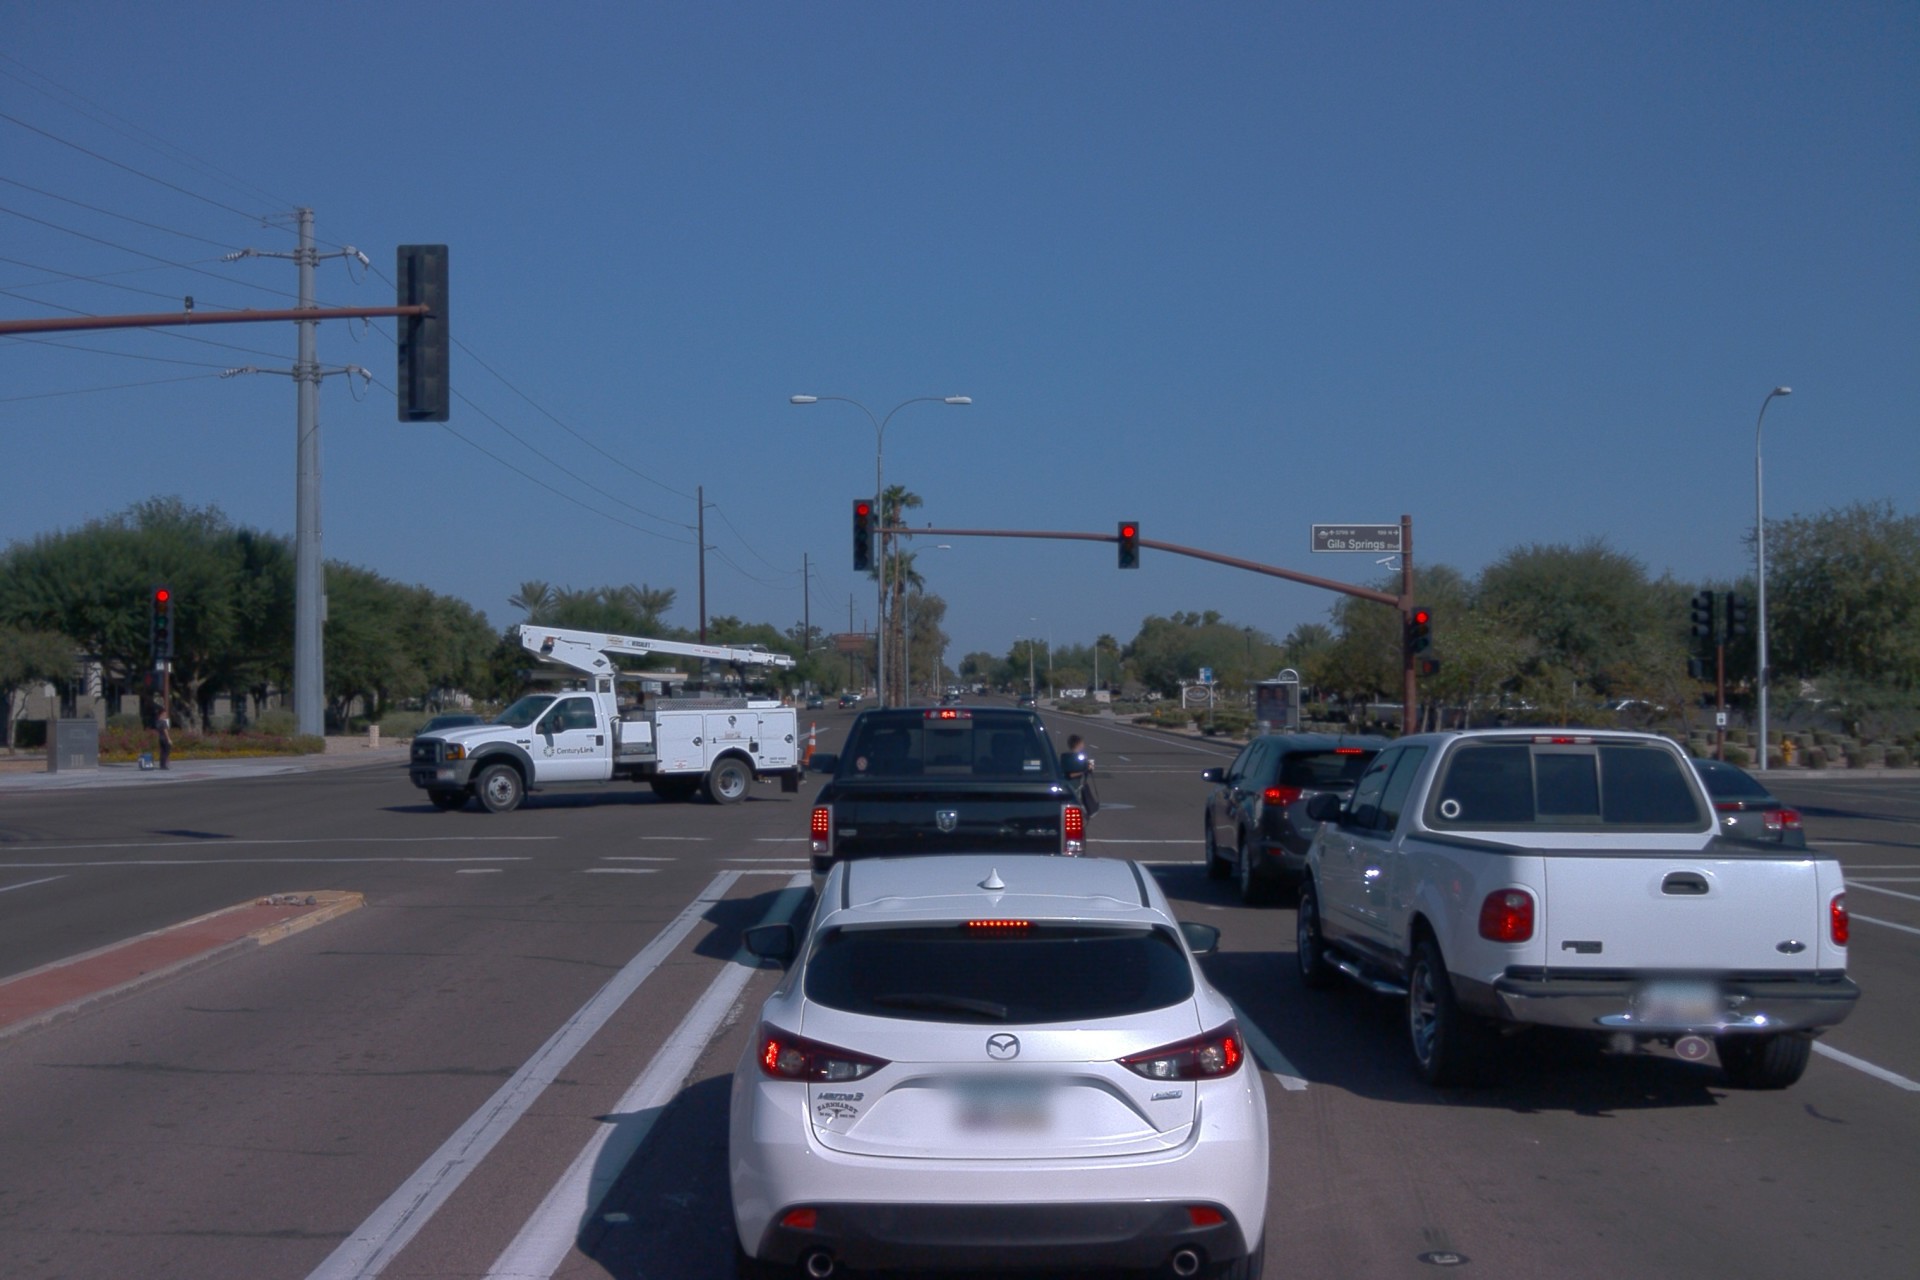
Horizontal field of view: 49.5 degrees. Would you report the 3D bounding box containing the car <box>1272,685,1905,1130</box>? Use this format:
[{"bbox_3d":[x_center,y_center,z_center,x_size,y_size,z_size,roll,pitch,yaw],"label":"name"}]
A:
[{"bbox_3d":[3.344,1.320,12.473,2.073,2.070,5.518,0,-1,-1],"label":"car"}]

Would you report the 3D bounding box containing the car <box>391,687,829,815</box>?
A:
[{"bbox_3d":[-5.987,1.844,36.115,6.950,2.040,2.812,1,-2,-34],"label":"car"}]

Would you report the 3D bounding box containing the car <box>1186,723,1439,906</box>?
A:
[{"bbox_3d":[3.480,1.696,21.297,1.789,1.630,4.213,0,-1,-1],"label":"car"}]

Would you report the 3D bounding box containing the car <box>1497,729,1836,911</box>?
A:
[{"bbox_3d":[6.819,1.687,20.626,1.828,1.540,4.447,0,-1,0],"label":"car"}]

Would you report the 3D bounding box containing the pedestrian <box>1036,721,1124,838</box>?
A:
[{"bbox_3d":[1.589,1.840,27.644,1.087,1.530,0.743,0,-1,-3],"label":"pedestrian"}]

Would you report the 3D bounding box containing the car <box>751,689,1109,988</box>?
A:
[{"bbox_3d":[-0.133,1.448,17.029,2.500,2.080,5.001,0,-1,2],"label":"car"}]

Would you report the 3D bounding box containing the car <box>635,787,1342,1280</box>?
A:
[{"bbox_3d":[0.088,1.503,8.513,2.099,1.600,4.628,0,-1,0],"label":"car"}]

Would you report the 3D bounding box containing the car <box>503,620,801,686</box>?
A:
[{"bbox_3d":[-5.439,0.253,36.925,4.977,1.100,1.625,1,-2,-24],"label":"car"}]
